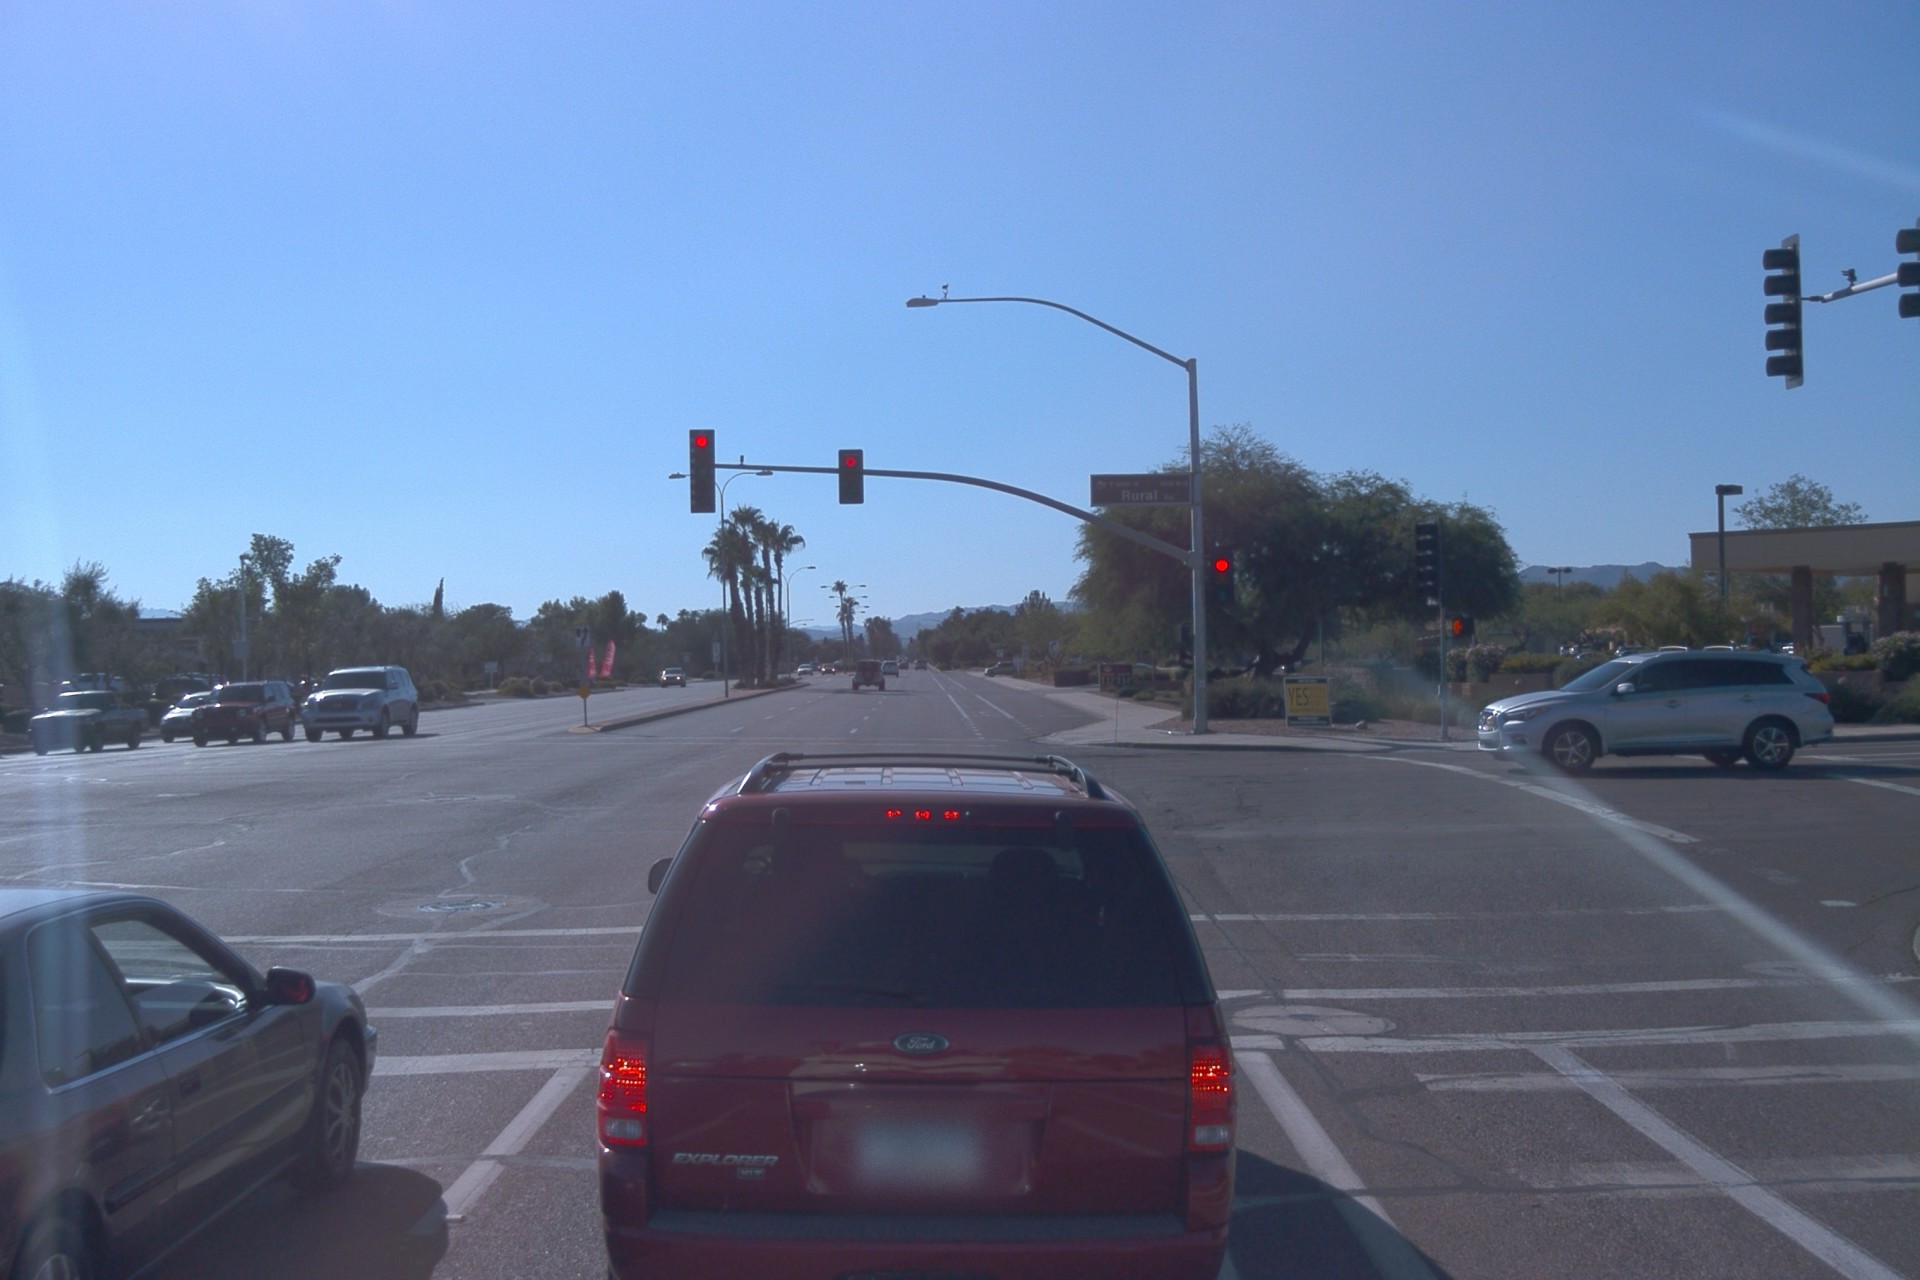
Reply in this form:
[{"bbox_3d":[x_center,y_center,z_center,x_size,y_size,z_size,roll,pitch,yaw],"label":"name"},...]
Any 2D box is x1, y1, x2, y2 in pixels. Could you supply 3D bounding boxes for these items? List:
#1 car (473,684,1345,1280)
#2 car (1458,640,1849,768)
[{"bbox_3d":[-0.180,1.202,7.460,2.169,2.040,4.462,1,-1,-2],"label":"car"},{"bbox_3d":[10.139,0.932,30.736,5.049,1.780,2.079,1,-1,-2],"label":"car"}]
